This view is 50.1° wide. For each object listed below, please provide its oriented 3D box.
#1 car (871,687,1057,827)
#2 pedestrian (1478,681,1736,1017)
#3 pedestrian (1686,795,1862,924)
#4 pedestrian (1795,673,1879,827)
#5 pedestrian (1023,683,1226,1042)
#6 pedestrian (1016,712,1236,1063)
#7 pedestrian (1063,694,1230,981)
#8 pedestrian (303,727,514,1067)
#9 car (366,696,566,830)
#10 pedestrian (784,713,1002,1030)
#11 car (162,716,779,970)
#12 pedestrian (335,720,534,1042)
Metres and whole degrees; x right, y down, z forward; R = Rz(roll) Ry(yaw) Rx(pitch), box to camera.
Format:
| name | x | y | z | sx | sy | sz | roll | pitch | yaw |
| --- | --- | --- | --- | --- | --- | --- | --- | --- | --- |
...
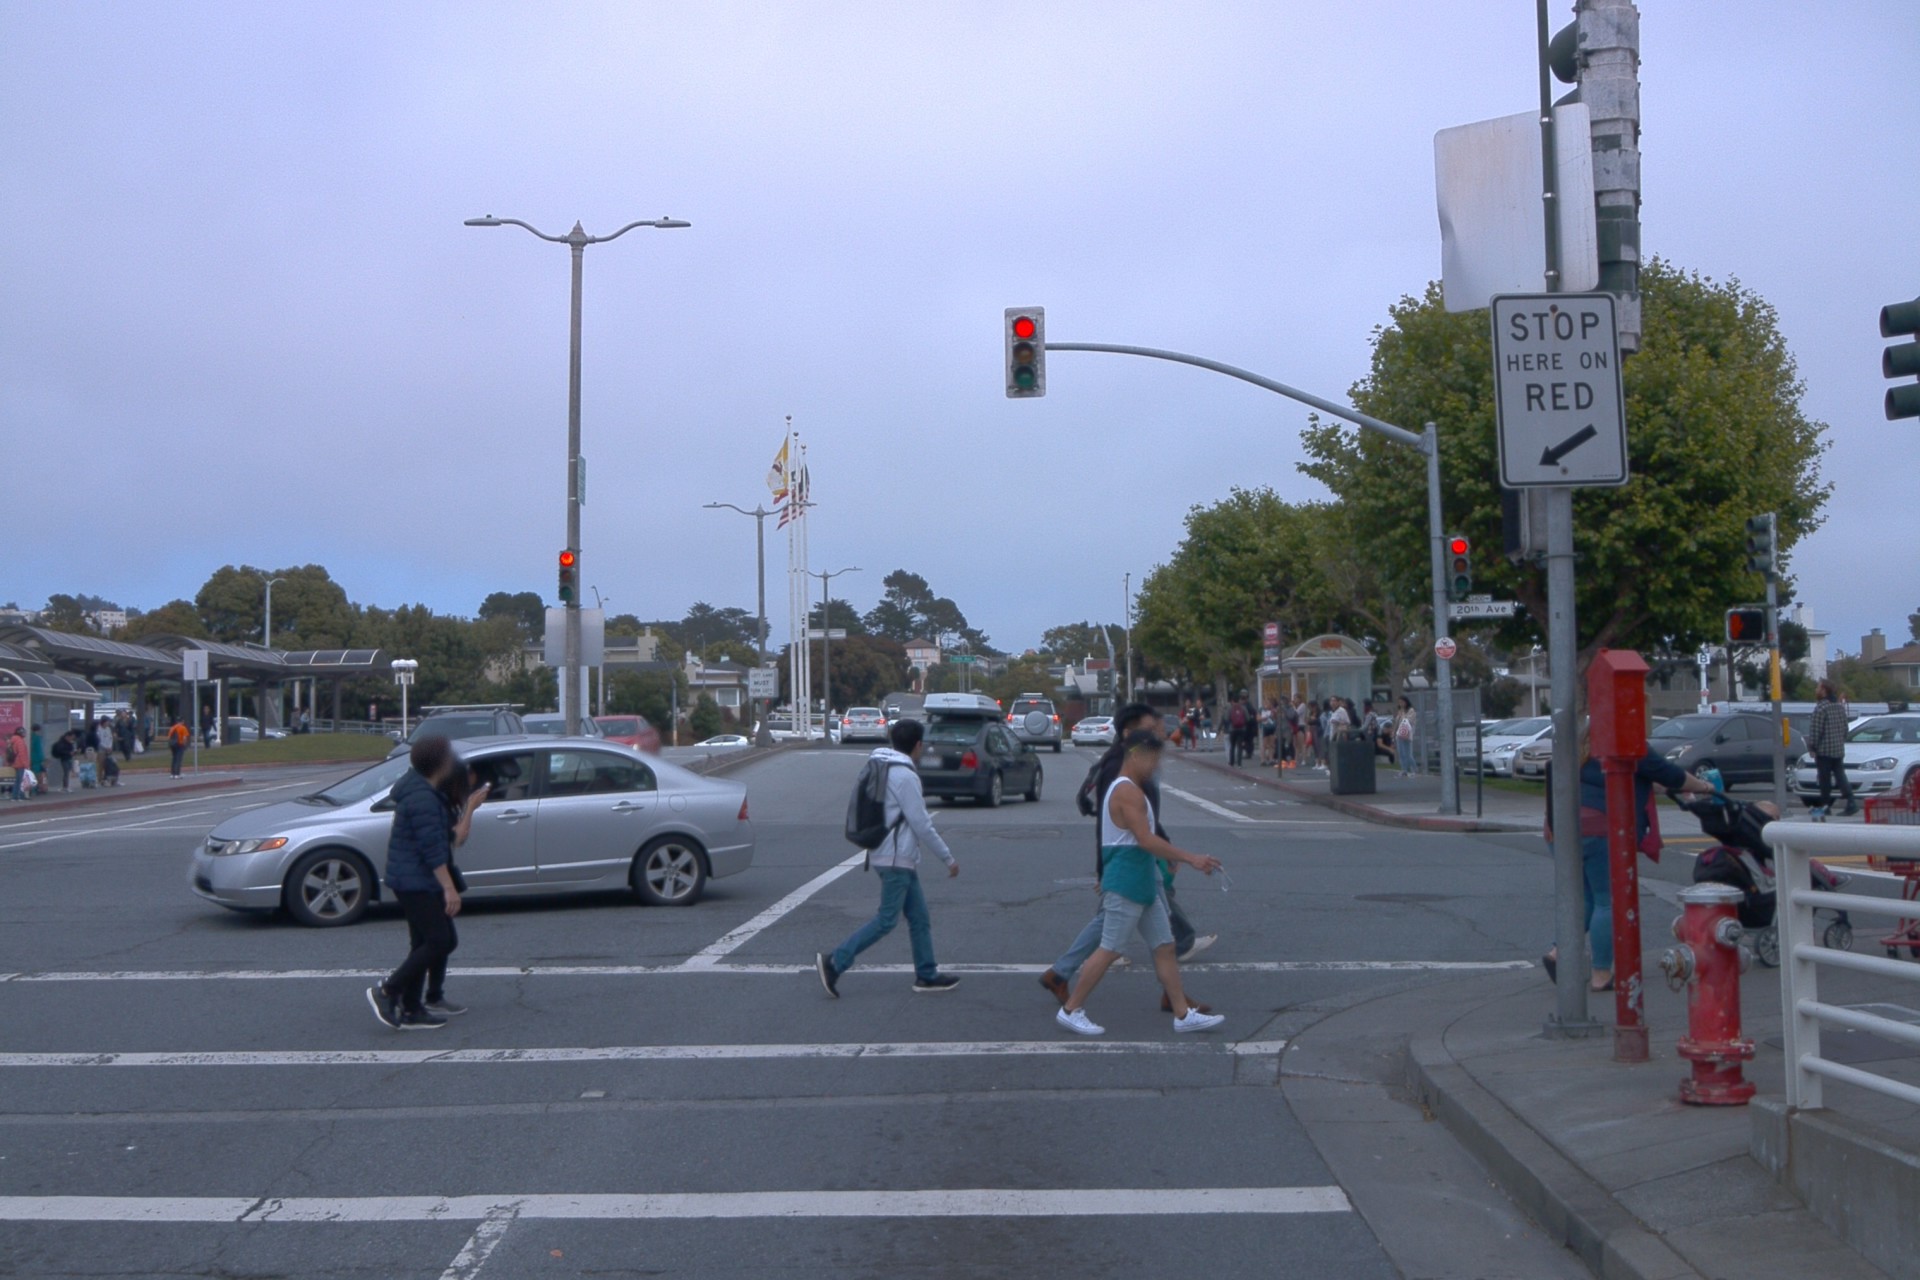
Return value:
| name | x | y | z | sx | sy | sz | roll | pitch | yaw |
| --- | --- | --- | --- | --- | --- | --- | --- | --- | --- |
| car | 0.146 | 1.858 | 34.172 | 1.881 | 2.000 | 4.357 | 0 | 1 | 17 |
| pedestrian | 3.500 | 1.097 | 11.163 | 1.127 | 1.710 | 0.707 | 0 | 1 | -15 |
| pedestrian | 4.507 | 1.206 | 11.398 | 0.770 | 0.640 | 0.482 | 0 | 1 | -13 |
| pedestrian | 11.104 | 1.375 | 26.033 | 0.741 | 1.900 | 0.619 | 0 | 1 | -17 |
| pedestrian | 0.916 | 1.164 | 11.199 | 1.006 | 1.830 | 0.937 | 0 | 1 | 11 |
| pedestrian | 0.861 | 1.225 | 10.494 | 1.015 | 1.670 | 0.737 | 0 | 1 | 14 |
| pedestrian | 1.162 | 1.218 | 12.926 | 0.940 | 1.720 | 0.669 | 0 | 1 | -4 |
| pedestrian | -2.842 | 1.301 | 10.670 | 0.993 | 1.650 | 0.667 | 0 | 1 | -9 |
| car | -8.215 | 2.001 | 34.630 | 2.080 | 1.920 | 4.561 | 0 | 1 | 3 |
| pedestrian | -0.401 | 1.280 | 11.770 | 1.049 | 1.670 | 0.929 | 0 | 1 | -15 |
| car | -3.945 | 1.526 | 16.680 | 4.468 | 1.620 | 2.032 | -1 | 1 | -29 |
| pedestrian | -2.845 | 1.287 | 11.192 | 0.962 | 1.660 | 0.601 | 0 | 1 | -6 |
